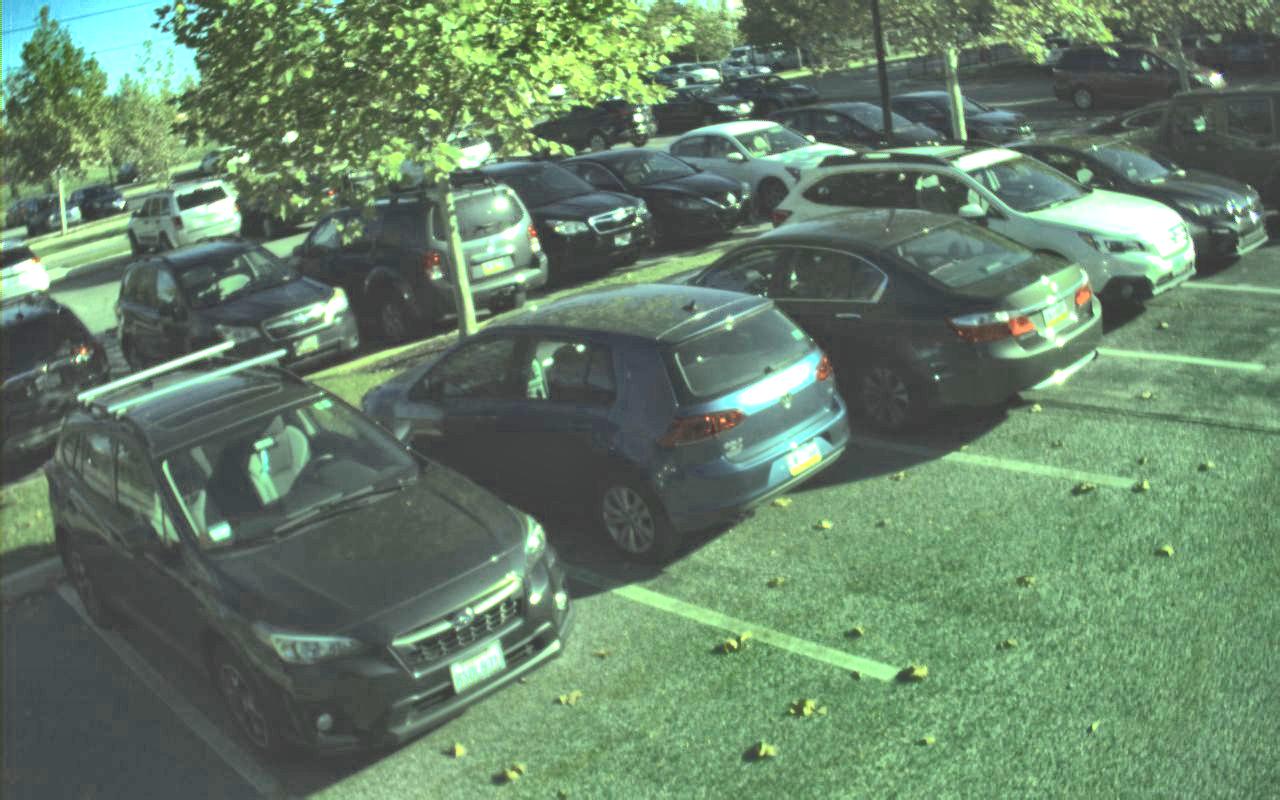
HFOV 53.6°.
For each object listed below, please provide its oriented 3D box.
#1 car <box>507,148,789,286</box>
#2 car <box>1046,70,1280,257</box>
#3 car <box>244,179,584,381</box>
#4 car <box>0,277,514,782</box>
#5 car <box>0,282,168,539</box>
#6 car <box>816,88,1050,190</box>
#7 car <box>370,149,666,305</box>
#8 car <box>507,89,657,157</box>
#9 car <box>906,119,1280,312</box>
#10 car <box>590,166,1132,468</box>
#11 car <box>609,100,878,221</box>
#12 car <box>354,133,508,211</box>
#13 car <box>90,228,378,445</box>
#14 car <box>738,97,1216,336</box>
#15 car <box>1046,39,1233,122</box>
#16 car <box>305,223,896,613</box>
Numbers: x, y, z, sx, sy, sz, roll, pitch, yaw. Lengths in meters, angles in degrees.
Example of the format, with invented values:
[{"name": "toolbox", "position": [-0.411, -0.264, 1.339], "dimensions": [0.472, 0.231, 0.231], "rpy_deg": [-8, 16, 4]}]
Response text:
[{"name": "car", "position": [0.045, -3.039, 20.093], "dimensions": [1.957, 1.582, 4.419], "rpy_deg": [-17, 23, -42]}, {"name": "car", "position": [7.871, -3.255, 15.127], "dimensions": [2.066, 1.865, 4.729], "rpy_deg": [-16, 22, -42]}, {"name": "car", "position": [-3.093, -1.725, 15.998], "dimensions": [4.695, 1.766, 2.030], "rpy_deg": [14, 22, 42]}, {"name": "car", "position": [-2.918, 0.476, 7.728], "dimensions": [1.986, 1.661, 4.449], "rpy_deg": [-14, 21, -38]}, {"name": "car", "position": [-7.381, -0.046, 13.403], "dimensions": [2.009, 1.735, 4.621], "rpy_deg": [-15, 22, -40]}, {"name": "car", "position": [5.900, -5.345, 24.693], "dimensions": [1.996, 1.638, 4.479], "rpy_deg": [-16, 22, -41]}, {"name": "car", "position": [-1.914, -2.661, 18.290], "dimensions": [1.977, 1.628, 4.492], "rpy_deg": [-16, 22, -41]}, {"name": "car", "position": [-1.819, -8.353, 37.296], "dimensions": [2.029, 1.741, 4.631], "rpy_deg": [-15, 21, -39]}, {"name": "car", "position": [5.398, -2.298, 13.987], "dimensions": [1.941, 1.564, 4.398], "rpy_deg": [-14, 21, -38]}, {"name": "car", "position": [1.665, -0.915, 10.244], "dimensions": [1.899, 1.495, 4.361], "rpy_deg": [-14, 21, -36]}, {"name": "car", "position": [1.725, -4.309, 21.887], "dimensions": [2.023, 1.641, 4.705], "rpy_deg": [-14, 21, -38]}, {"name": "car", "position": [-5.910, -6.408, 34.469], "dimensions": [2.011, 1.709, 4.615], "rpy_deg": [-16, 22, -42]}, {"name": "car", "position": [-5.179, -0.943, 14.693], "dimensions": [1.977, 1.608, 4.492], "rpy_deg": [-15, 21, -39]}, {"name": "car", "position": [3.374, -2.066, 12.463], "dimensions": [2.024, 1.728, 4.727], "rpy_deg": [-15, 21, -39]}, {"name": "car", "position": [13.496, -8.600, 31.118], "dimensions": [2.105, 1.839, 4.945], "rpy_deg": [-16, 22, -41]}, {"name": "car", "position": [-0.489, -0.159, 8.960], "dimensions": [1.893, 1.571, 4.203], "rpy_deg": [-16, 22, -41]}]
